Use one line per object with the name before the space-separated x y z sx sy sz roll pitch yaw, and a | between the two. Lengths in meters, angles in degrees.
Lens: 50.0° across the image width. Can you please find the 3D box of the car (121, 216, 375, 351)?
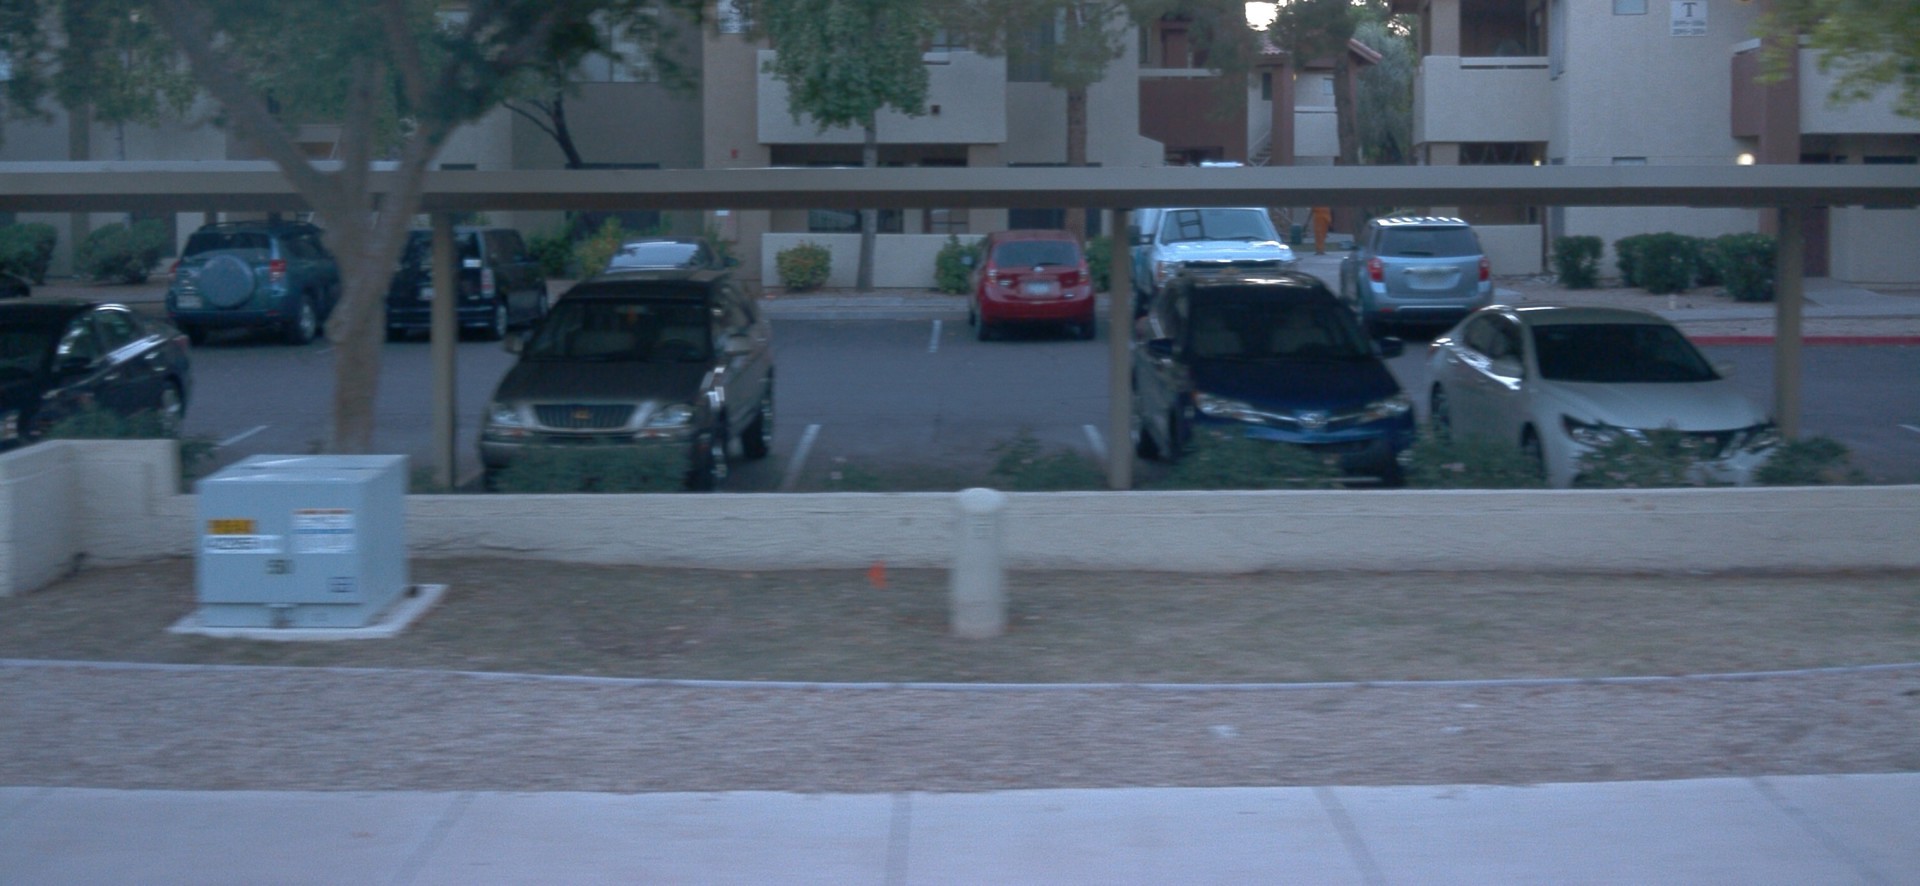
car | -10.088 -2.351 29.596 2.054 1.782 4.557 0 5 0

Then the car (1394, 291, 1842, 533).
car | 5.150 -0.399 16.932 2.068 1.553 4.855 0 5 -1

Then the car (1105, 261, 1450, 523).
car | 2.427 -0.559 16.928 2.146 1.793 4.451 0 5 0

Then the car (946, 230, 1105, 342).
car | 0.888 -2.368 30.269 2.026 1.523 4.103 0 5 -3

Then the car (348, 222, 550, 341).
car | -7.431 -2.430 30.367 1.787 1.623 4.164 0 5 2

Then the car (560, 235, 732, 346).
car | -4.492 -2.290 30.117 1.999 1.483 4.393 0 5 -2

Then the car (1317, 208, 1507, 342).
car | 6.479 -2.500 29.998 2.147 1.783 4.493 0 5 5

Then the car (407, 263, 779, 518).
car | -2.833 -0.572 17.004 2.074 1.733 4.460 0 5 3

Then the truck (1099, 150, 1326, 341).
truck | 3.606 -2.972 30.792 2.642 2.560 6.056 0 5 0
